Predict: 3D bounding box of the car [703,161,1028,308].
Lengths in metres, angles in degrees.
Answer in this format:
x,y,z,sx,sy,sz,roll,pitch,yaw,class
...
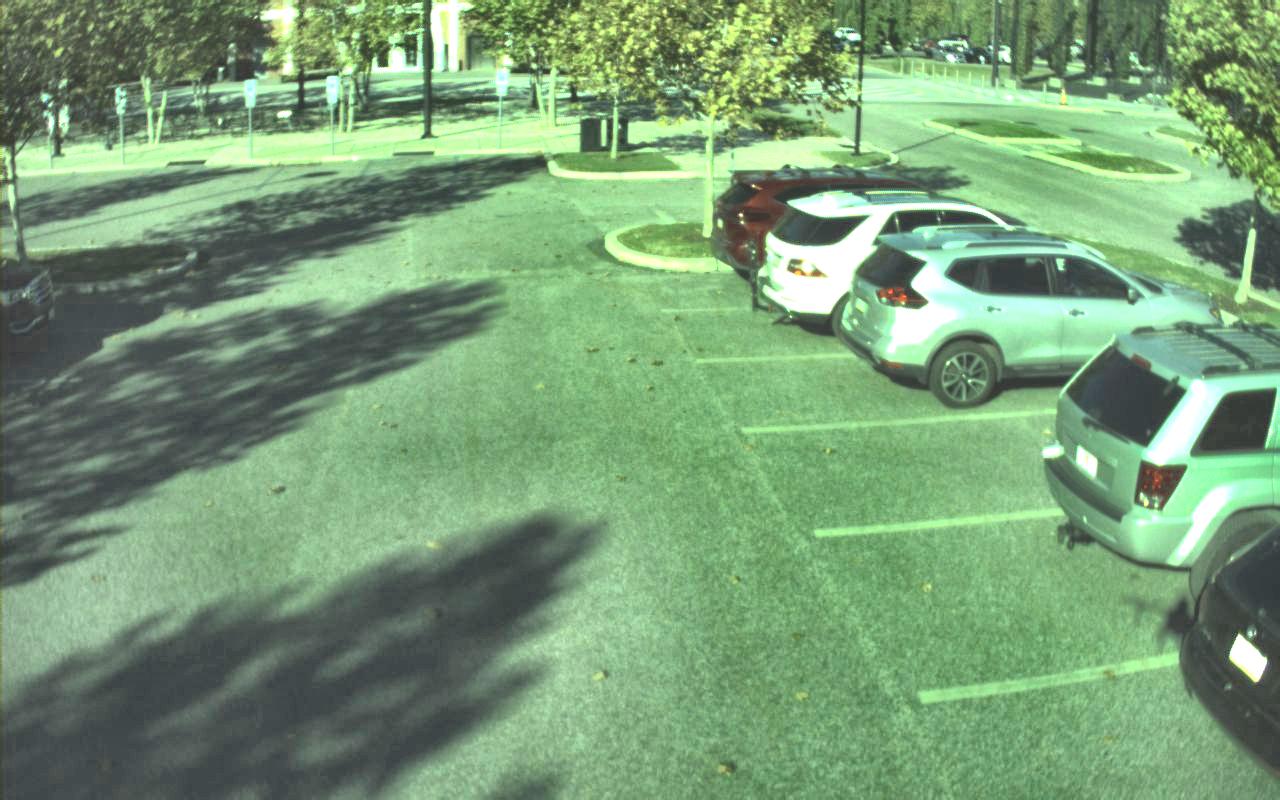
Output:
x,y,z,sx,sy,sz,roll,pitch,yaw,class
3.329,-2.550,18.493,4.503,1.770,1.987,-4,16,-8,car

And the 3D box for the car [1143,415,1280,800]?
x,y,z,sx,sy,sz,roll,pitch,yaw,class
5.358,1.328,6.052,4.432,1.591,1.938,-3,16,-7,car

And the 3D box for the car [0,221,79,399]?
x,y,z,sx,sy,sz,roll,pitch,yaw,class
-9.913,-1.197,14.683,4.503,1.610,1.985,-6,17,-16,car

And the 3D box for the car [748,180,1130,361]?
x,y,z,sx,sy,sz,roll,pitch,yaw,class
3.838,-1.769,15.812,4.591,1.817,2.014,-4,16,-9,car

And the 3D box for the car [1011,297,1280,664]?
x,y,z,sx,sy,sz,roll,pitch,yaw,class
5.290,0.422,8.461,4.641,1.872,2.038,-3,16,-6,car

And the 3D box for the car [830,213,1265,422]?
x,y,z,sx,sy,sz,roll,pitch,yaw,class
4.534,-1.028,13.381,4.587,1.769,1.995,-3,16,-6,car
